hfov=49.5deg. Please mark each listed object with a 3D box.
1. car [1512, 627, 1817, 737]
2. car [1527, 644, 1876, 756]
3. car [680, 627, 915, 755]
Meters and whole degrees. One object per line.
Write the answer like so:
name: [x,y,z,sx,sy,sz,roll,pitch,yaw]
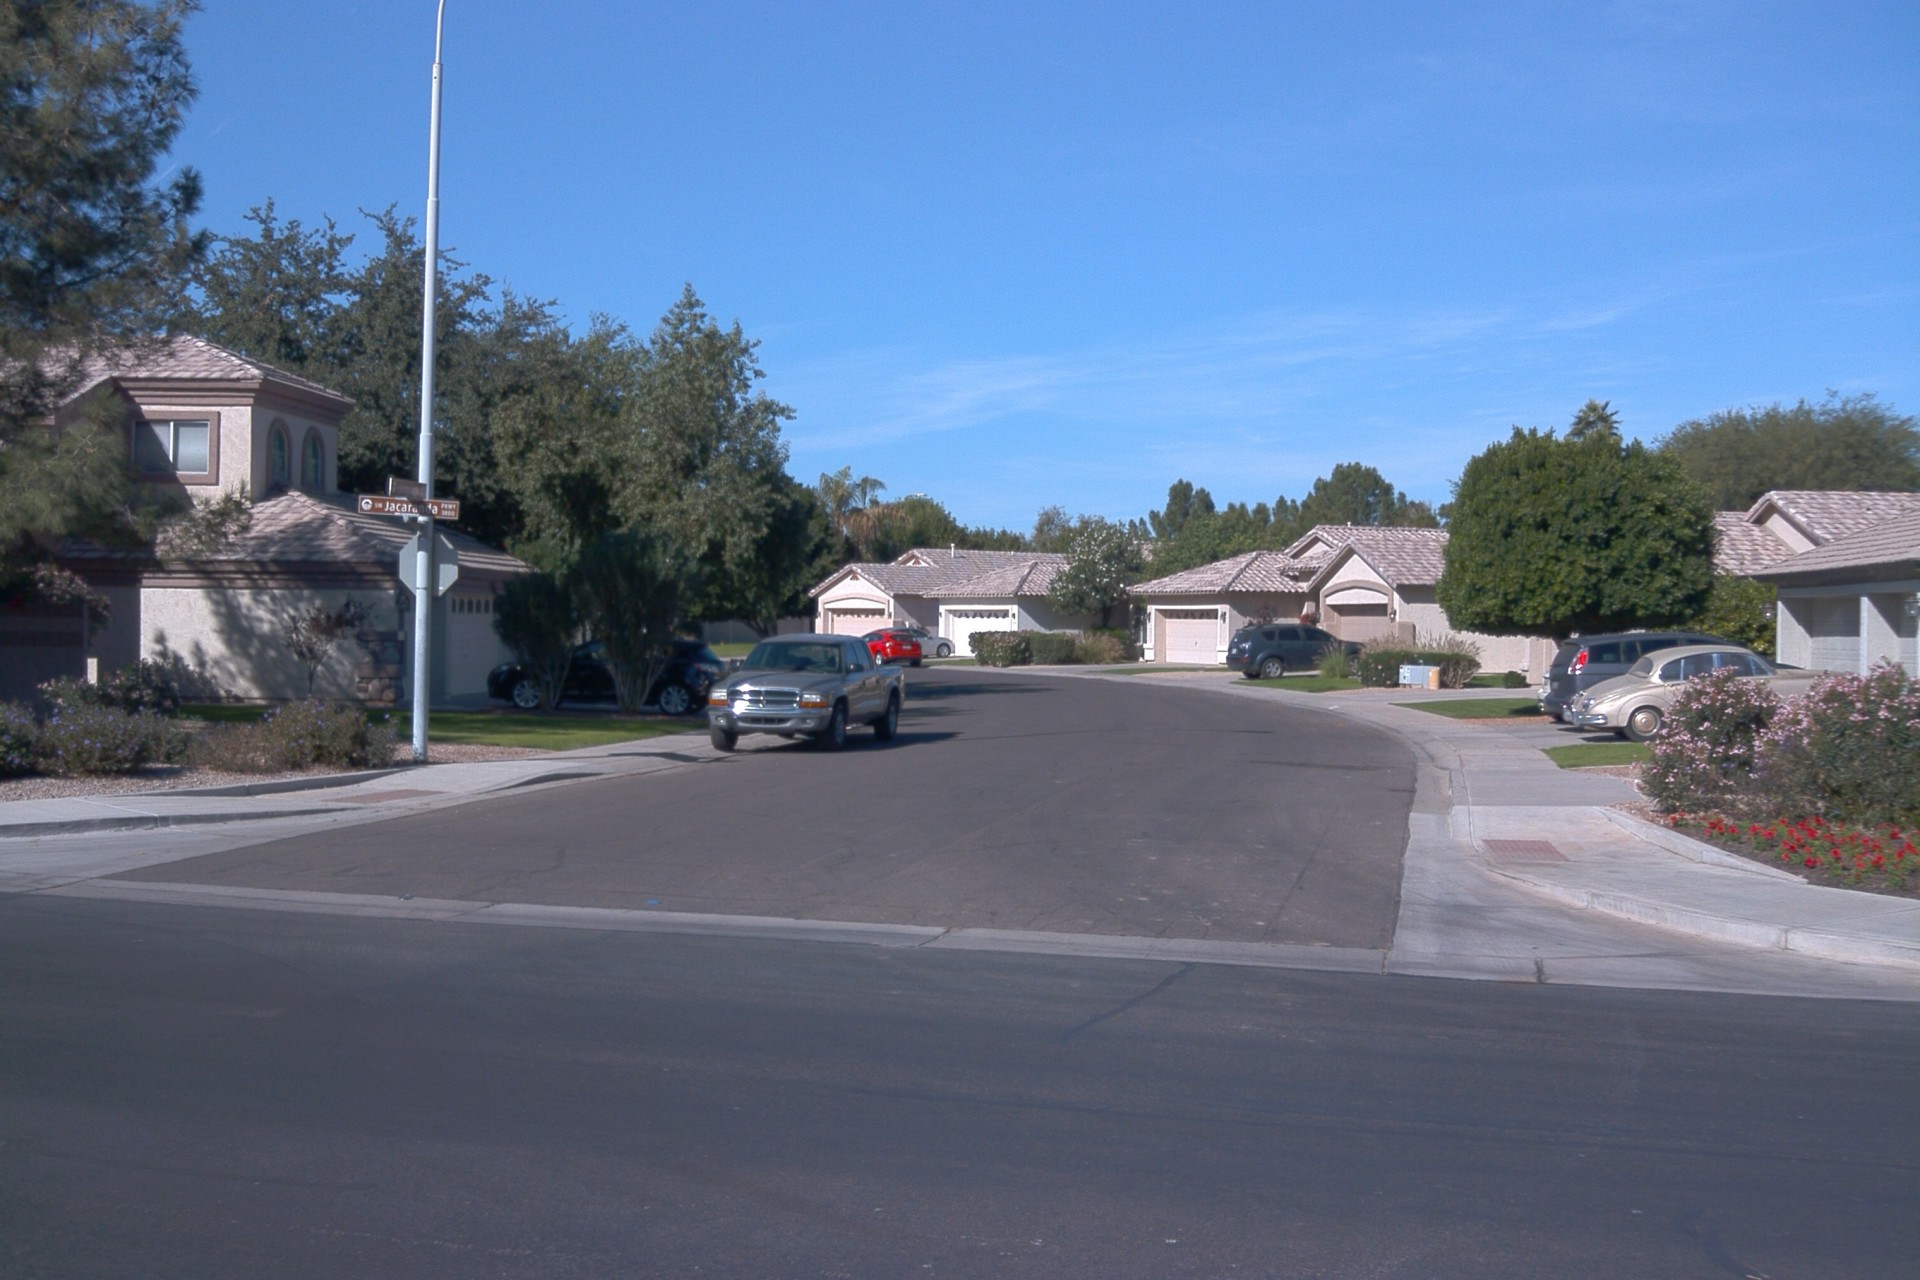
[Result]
car: [11.896,0.712,35.416,4.584,1.810,1.854,0,-1,2]
car: [11.571,0.930,32.861,4.844,1.690,2.128,0,-1,6]
car: [-2.352,0.744,32.065,2.206,1.790,5.577,0,-1,11]
